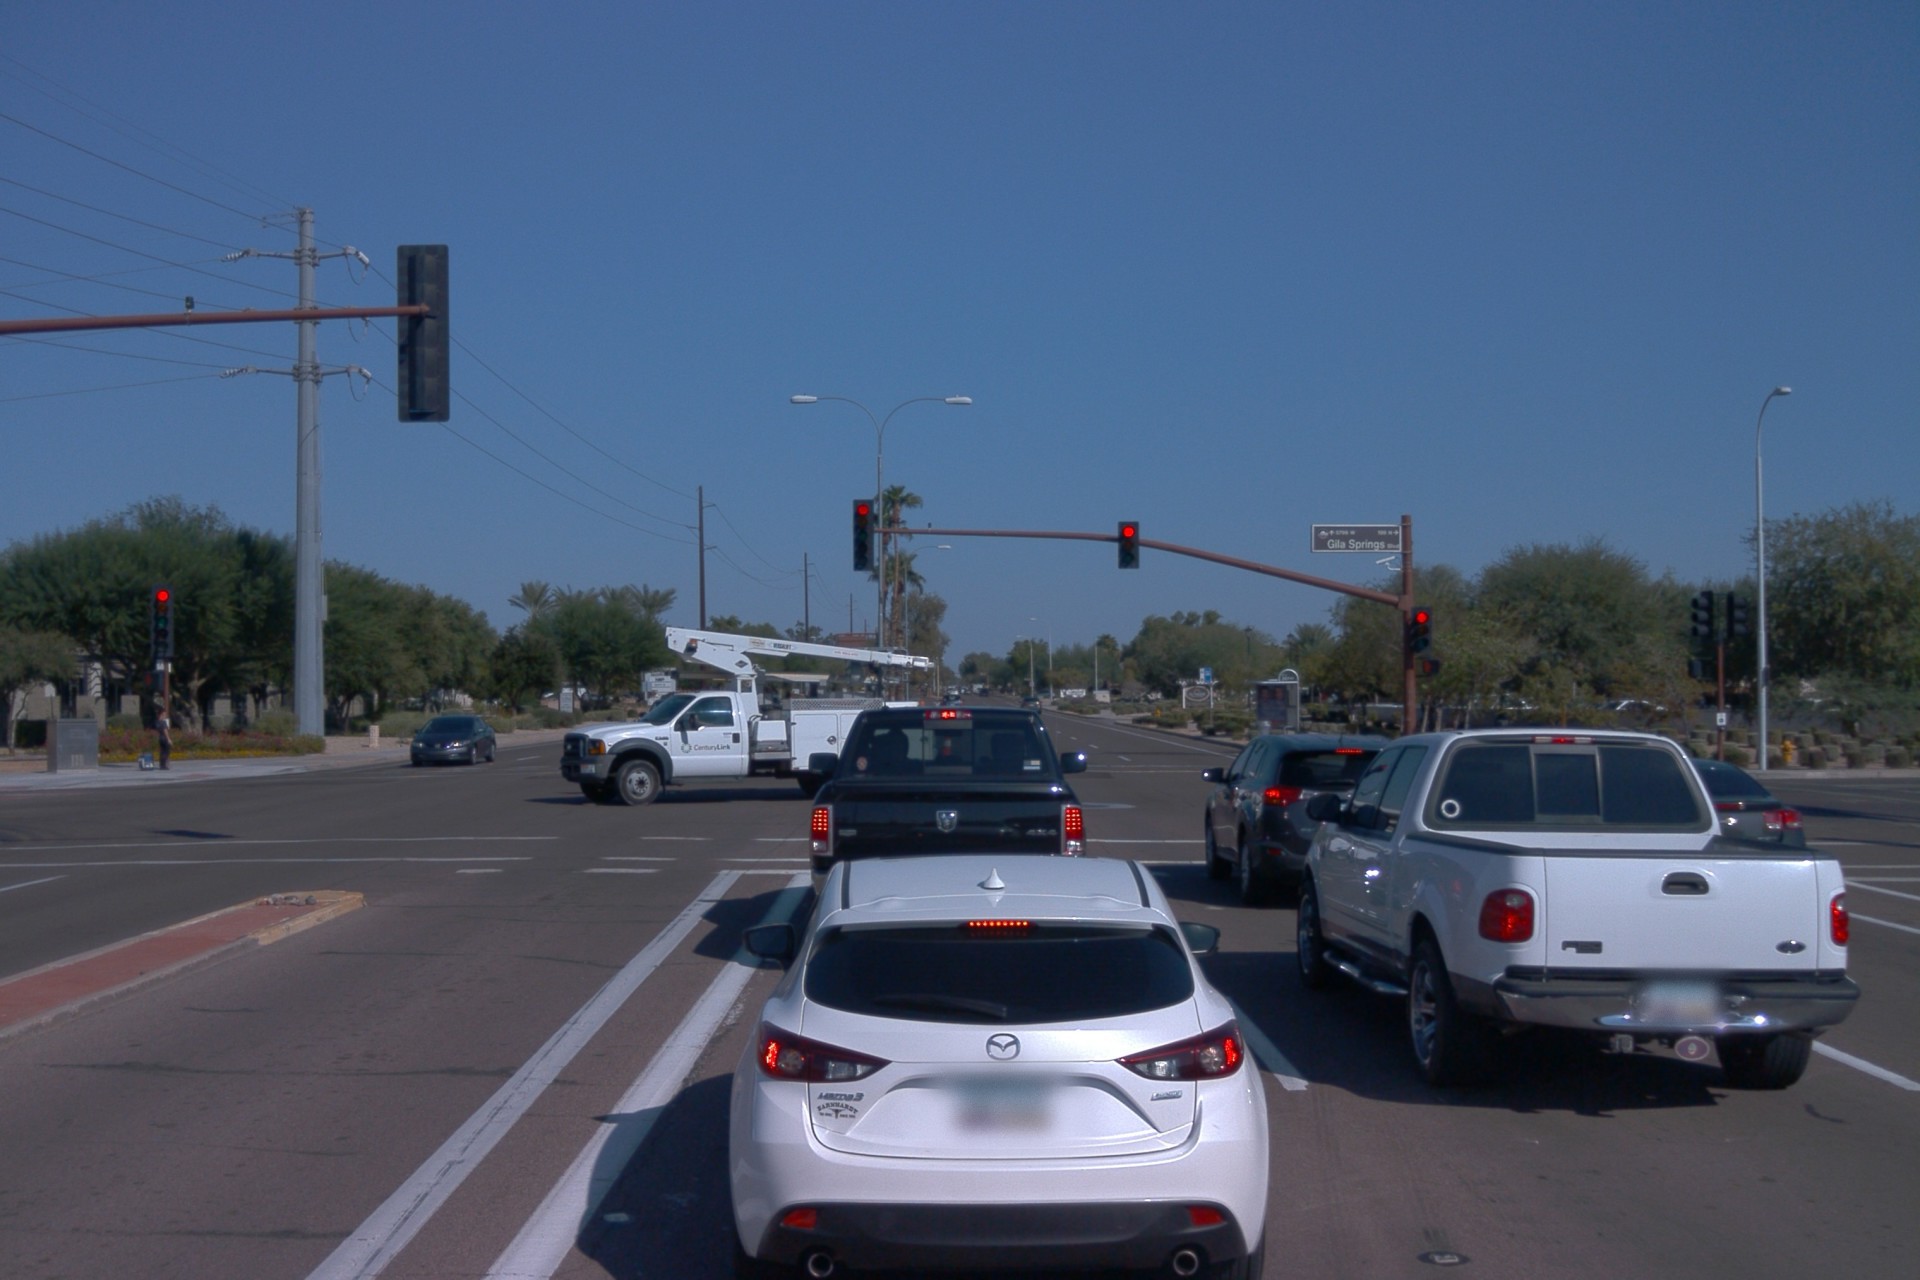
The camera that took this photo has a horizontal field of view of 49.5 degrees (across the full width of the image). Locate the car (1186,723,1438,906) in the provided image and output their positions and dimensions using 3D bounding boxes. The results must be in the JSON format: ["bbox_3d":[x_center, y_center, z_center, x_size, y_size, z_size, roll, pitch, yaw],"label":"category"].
[{"bbox_3d":[3.475,1.695,21.297,1.789,1.630,4.213,0,-1,-1],"label":"car"}]

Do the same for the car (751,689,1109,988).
[{"bbox_3d":[-0.136,1.448,17.029,2.500,2.080,5.001,0,-1,2],"label":"car"}]

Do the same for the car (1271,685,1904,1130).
[{"bbox_3d":[3.340,1.321,12.474,2.073,2.070,5.518,0,-1,-1],"label":"car"}]

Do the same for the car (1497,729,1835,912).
[{"bbox_3d":[6.815,1.690,20.628,1.828,1.540,4.447,0,-1,0],"label":"car"}]

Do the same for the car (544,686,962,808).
[{"bbox_3d":[-3.712,1.860,37.609,6.951,2.040,2.811,1,-2,-26],"label":"car"}]

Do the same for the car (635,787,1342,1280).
[{"bbox_3d":[0.086,1.504,8.512,2.099,1.600,4.628,0,-1,0],"label":"car"}]
